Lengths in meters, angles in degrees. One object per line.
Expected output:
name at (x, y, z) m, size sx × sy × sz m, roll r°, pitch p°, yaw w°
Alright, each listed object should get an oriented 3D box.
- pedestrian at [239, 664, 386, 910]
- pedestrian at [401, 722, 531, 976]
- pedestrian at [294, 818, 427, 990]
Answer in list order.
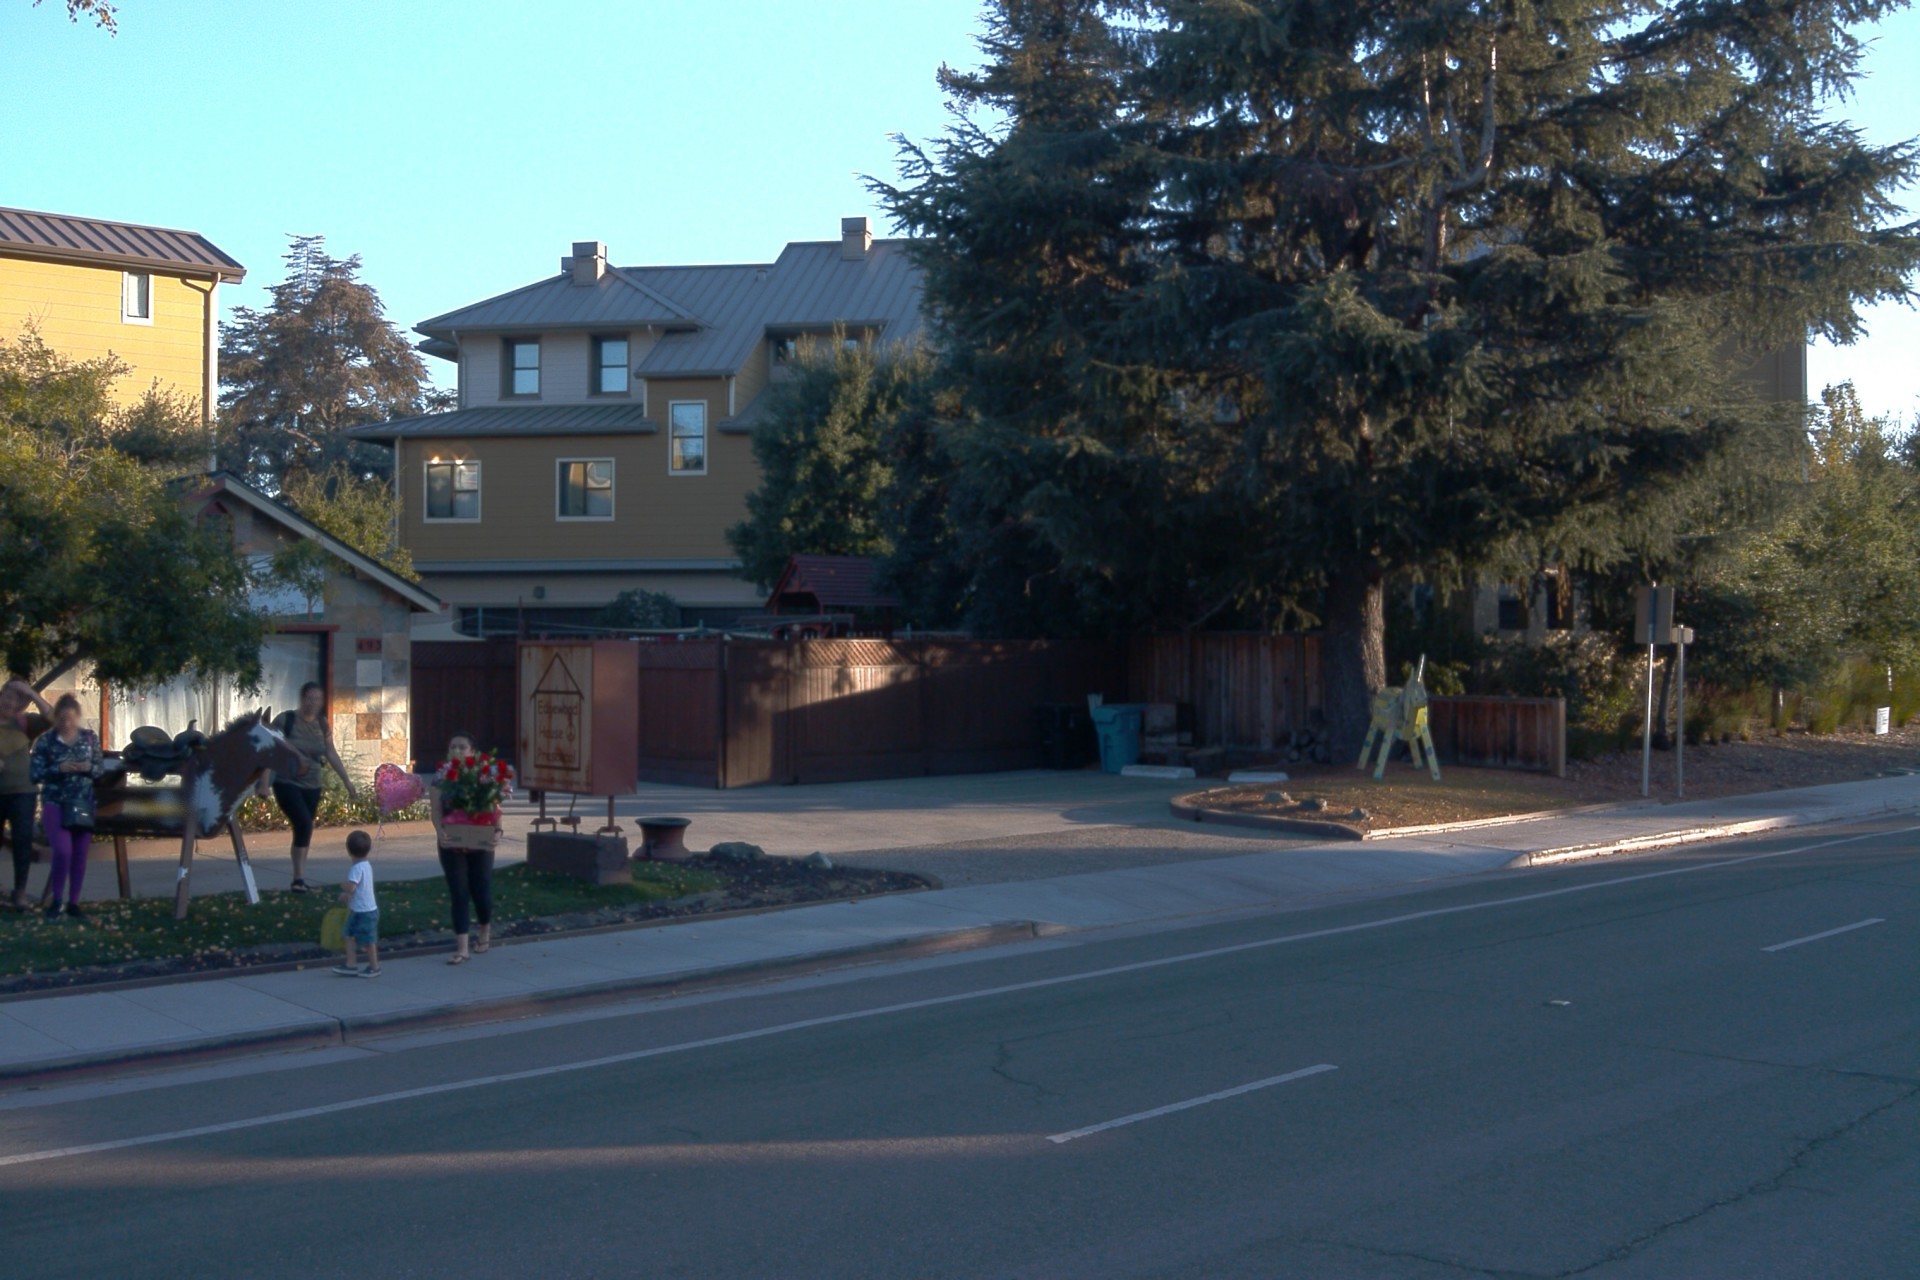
pedestrian at (-4.992, 1.099, 15.975) m, size 0.812 × 1.810 × 0.753 m, roll 0°, pitch 0°, yaw 40°
pedestrian at (-3.371, 1.400, 14.225) m, size 0.733 × 1.630 × 0.997 m, roll 0°, pitch 0°, yaw -6°
pedestrian at (-3.944, 1.718, 13.630) m, size 0.641 × 1.010 × 0.620 m, roll 0°, pitch 0°, yaw -40°
